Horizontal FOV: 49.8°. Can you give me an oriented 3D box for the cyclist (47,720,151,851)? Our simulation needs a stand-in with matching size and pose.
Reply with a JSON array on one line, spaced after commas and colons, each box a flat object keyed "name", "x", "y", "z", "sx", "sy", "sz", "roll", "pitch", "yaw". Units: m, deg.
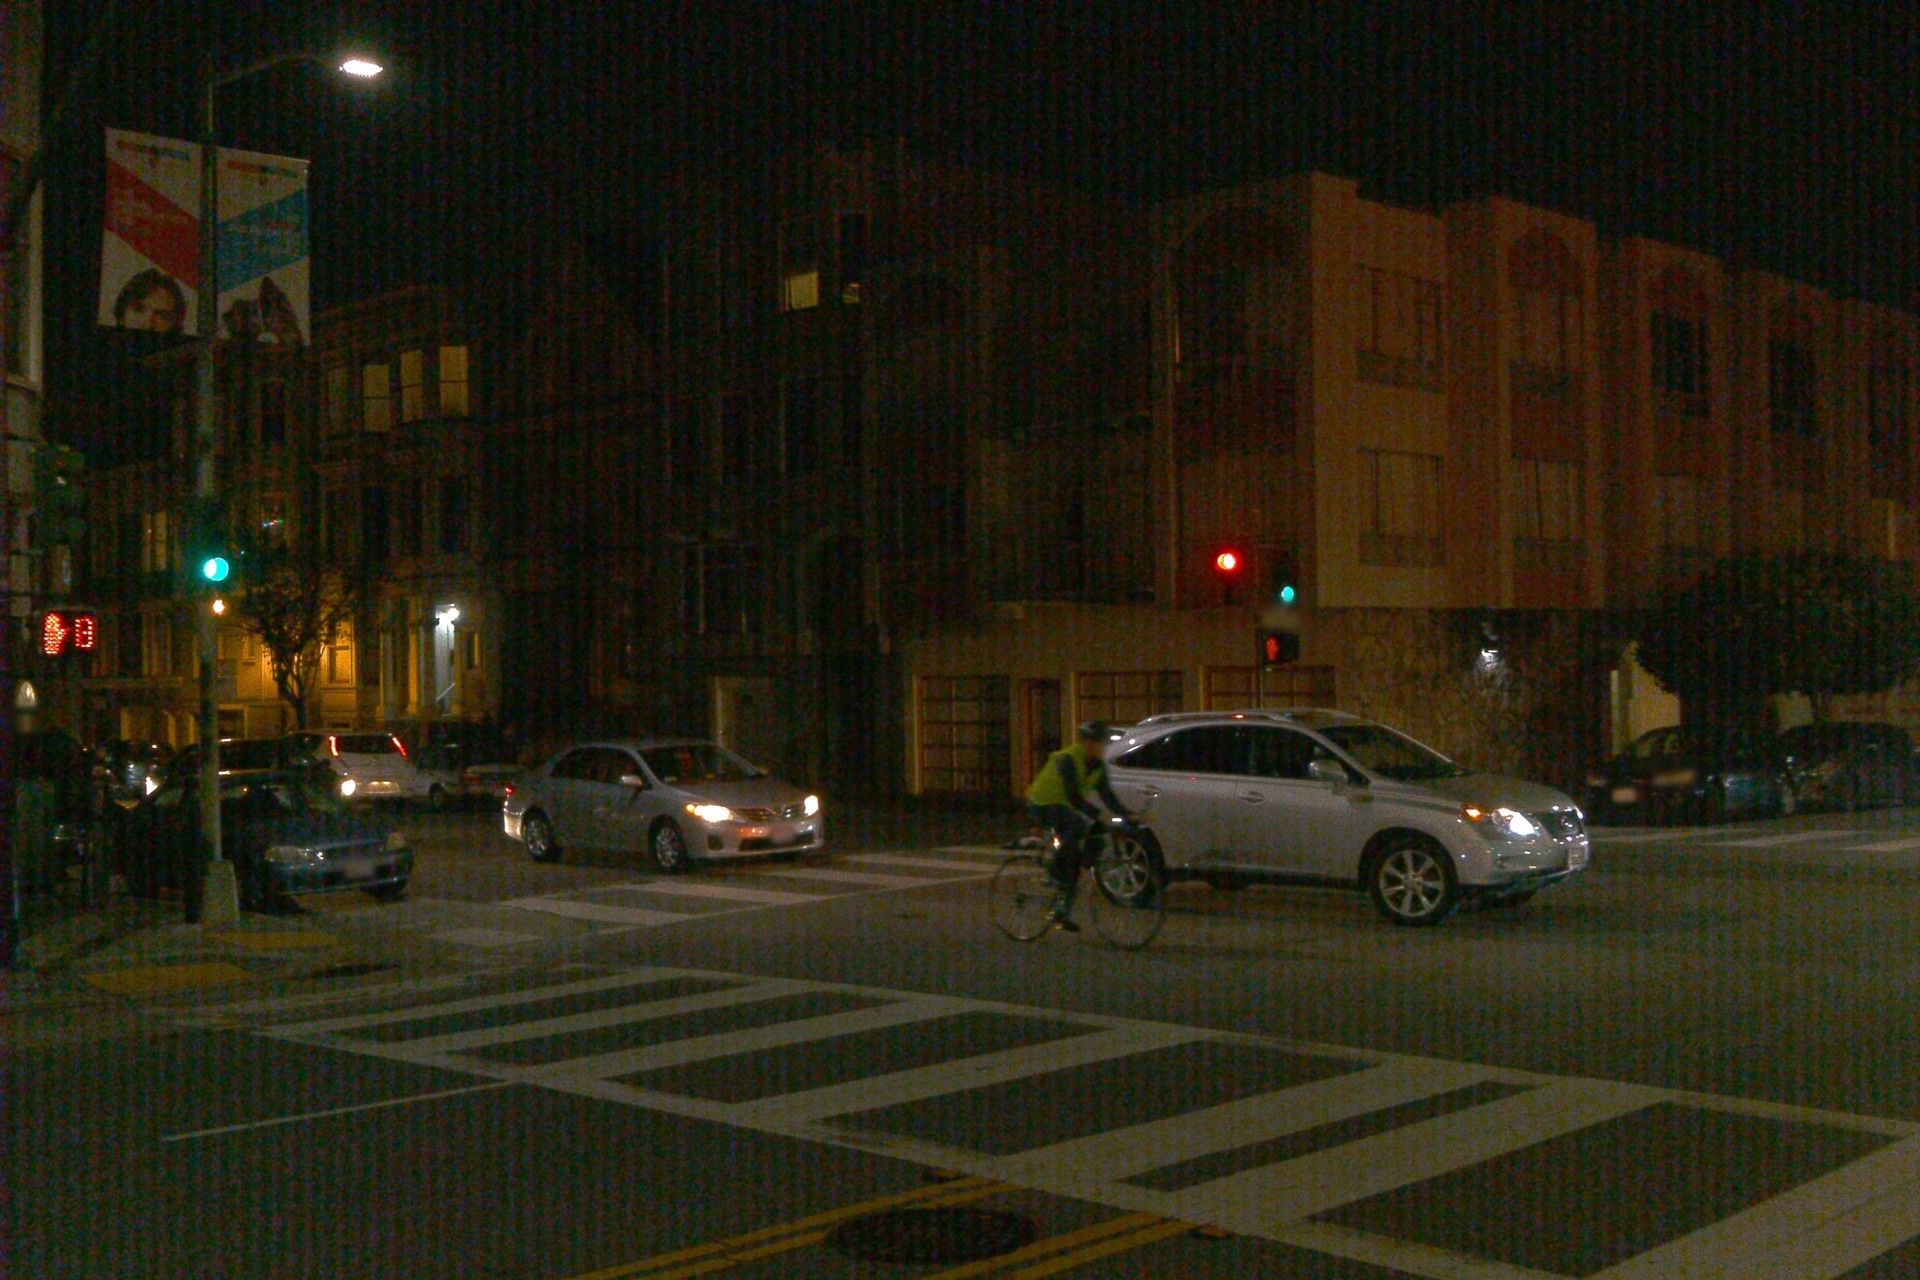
[{"name": "cyclist", "x": -12.536, "y": 2.093, "z": 30.056, "sx": 1.750, "sy": 1.760, "sz": 0.771, "roll": 1, "pitch": 0, "yaw": 45}]

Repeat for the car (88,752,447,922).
[{"name": "car", "x": -7.498, "y": 2.026, "z": 22.146, "sx": 1.946, "sy": 1.350, "sz": 4.278, "roll": 1, "pitch": 0, "yaw": -44}]

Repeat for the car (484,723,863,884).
[{"name": "car", "x": -3.407, "y": 1.810, "z": 23.981, "sx": 2.125, "sy": 1.450, "sz": 4.459, "roll": 1, "pitch": 0, "yaw": -44}]

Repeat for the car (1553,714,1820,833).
[{"name": "car", "x": 10.607, "y": 1.868, "z": 29.966, "sx": 1.967, "sy": 1.430, "sz": 4.633, "roll": 1, "pitch": 0, "yaw": 42}]

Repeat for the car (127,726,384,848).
[{"name": "car", "x": -10.878, "y": 2.188, "z": 31.725, "sx": 2.021, "sy": 1.480, "sz": 4.494, "roll": 1, "pitch": 0, "yaw": -43}]

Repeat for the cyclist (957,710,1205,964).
[{"name": "cyclist", "x": 0.906, "y": 1.451, "z": 15.770, "sx": 1.769, "sy": 1.750, "sz": 0.771, "roll": 1, "pitch": 0, "yaw": 42}]

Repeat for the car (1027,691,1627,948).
[{"name": "car", "x": 3.080, "y": 1.409, "z": 17.864, "sx": 4.614, "sy": 1.760, "sz": 2.139, "roll": 1, "pitch": 0, "yaw": 40}]
